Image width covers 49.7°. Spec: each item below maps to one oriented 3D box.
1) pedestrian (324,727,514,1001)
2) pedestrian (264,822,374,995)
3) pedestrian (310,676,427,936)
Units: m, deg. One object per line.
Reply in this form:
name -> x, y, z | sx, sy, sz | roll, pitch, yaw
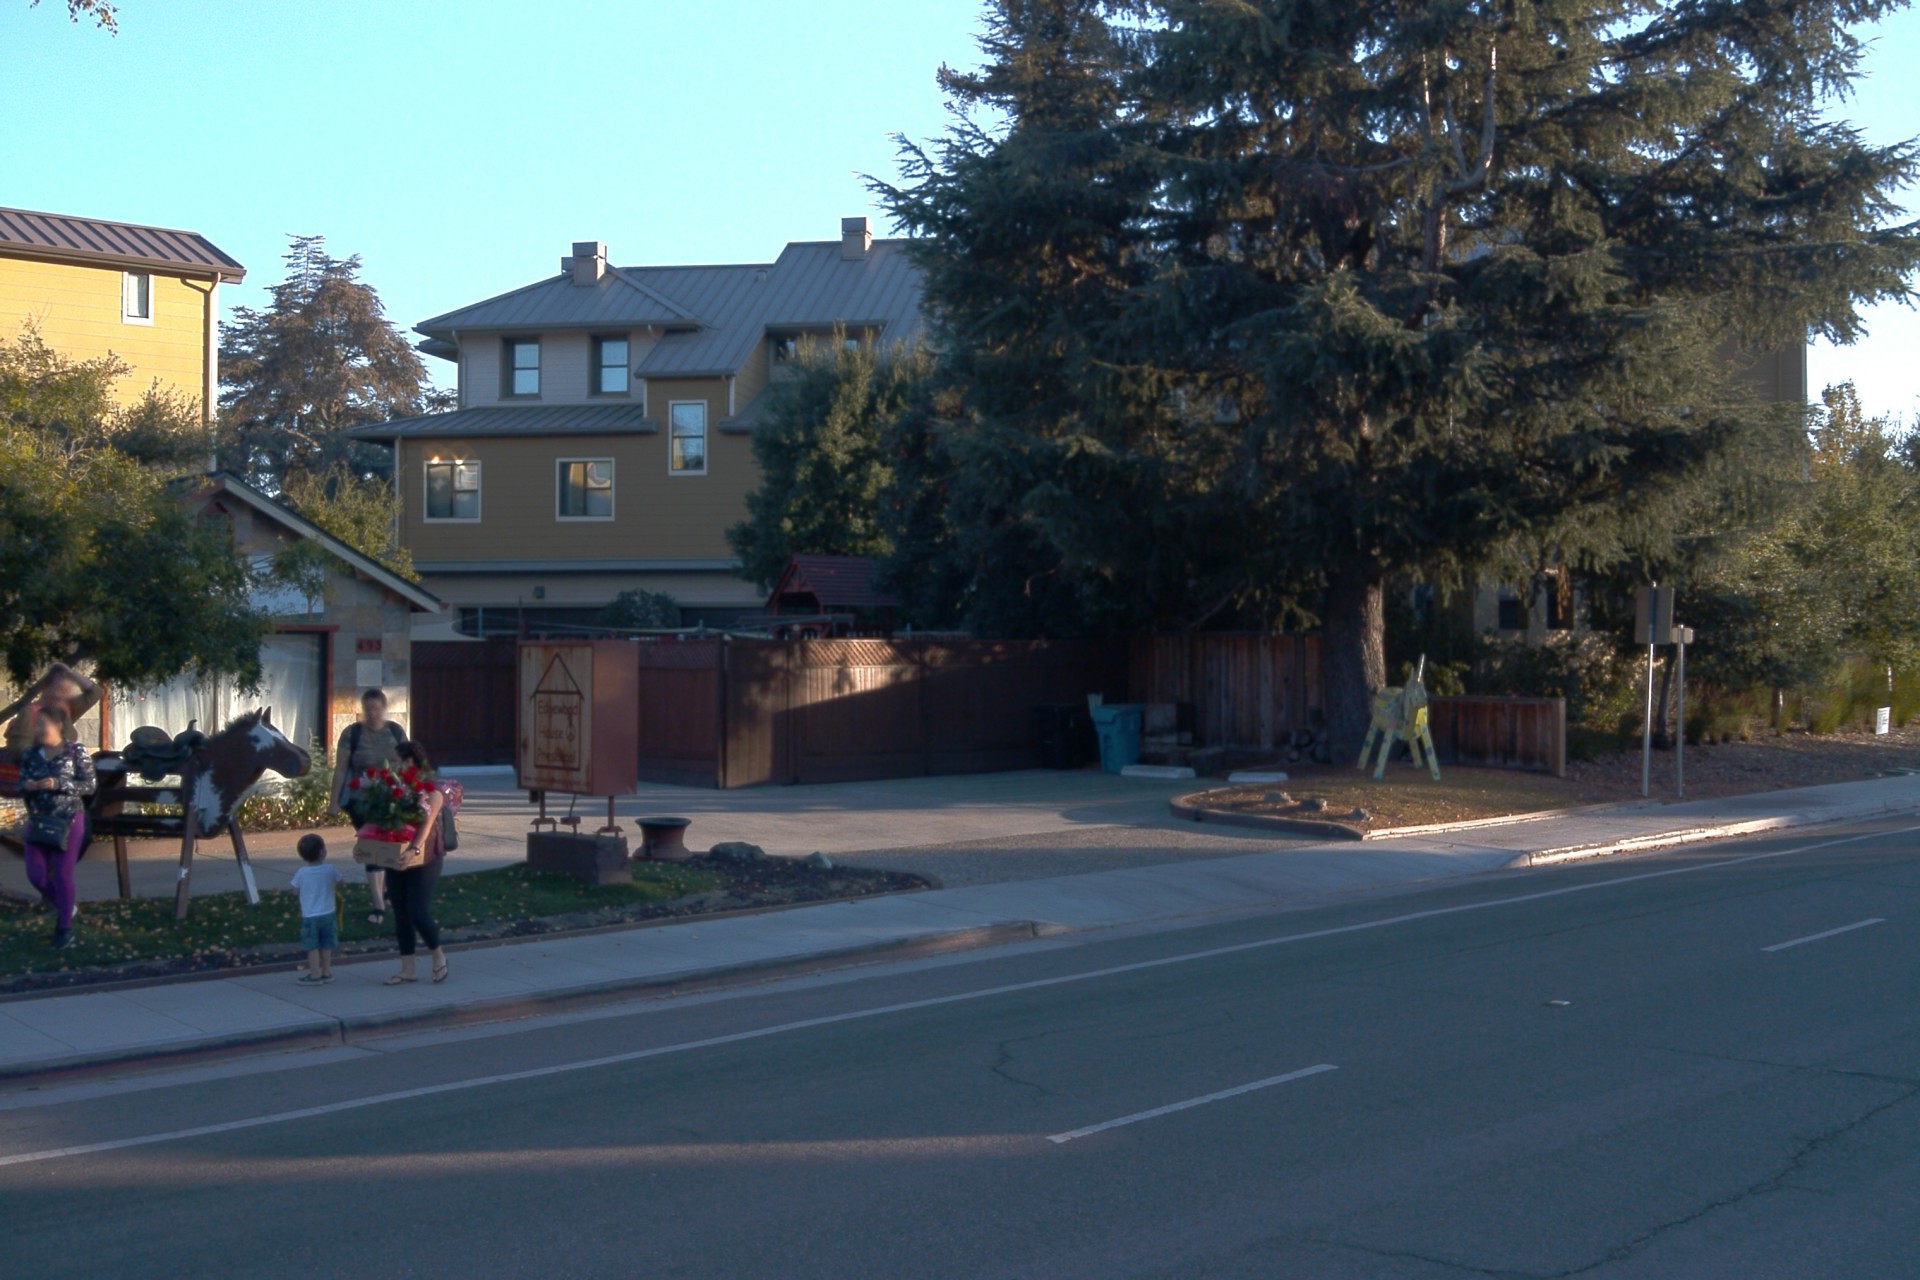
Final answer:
pedestrian -> -3.463, 1.402, 13.325 | 0.729, 1.630, 1.003 | 0, 0, 19
pedestrian -> -4.128, 1.717, 13.382 | 0.626, 1.010, 0.634 | 0, 0, -13
pedestrian -> -4.331, 1.182, 15.145 | 0.751, 1.810, 0.814 | 0, 0, -21
